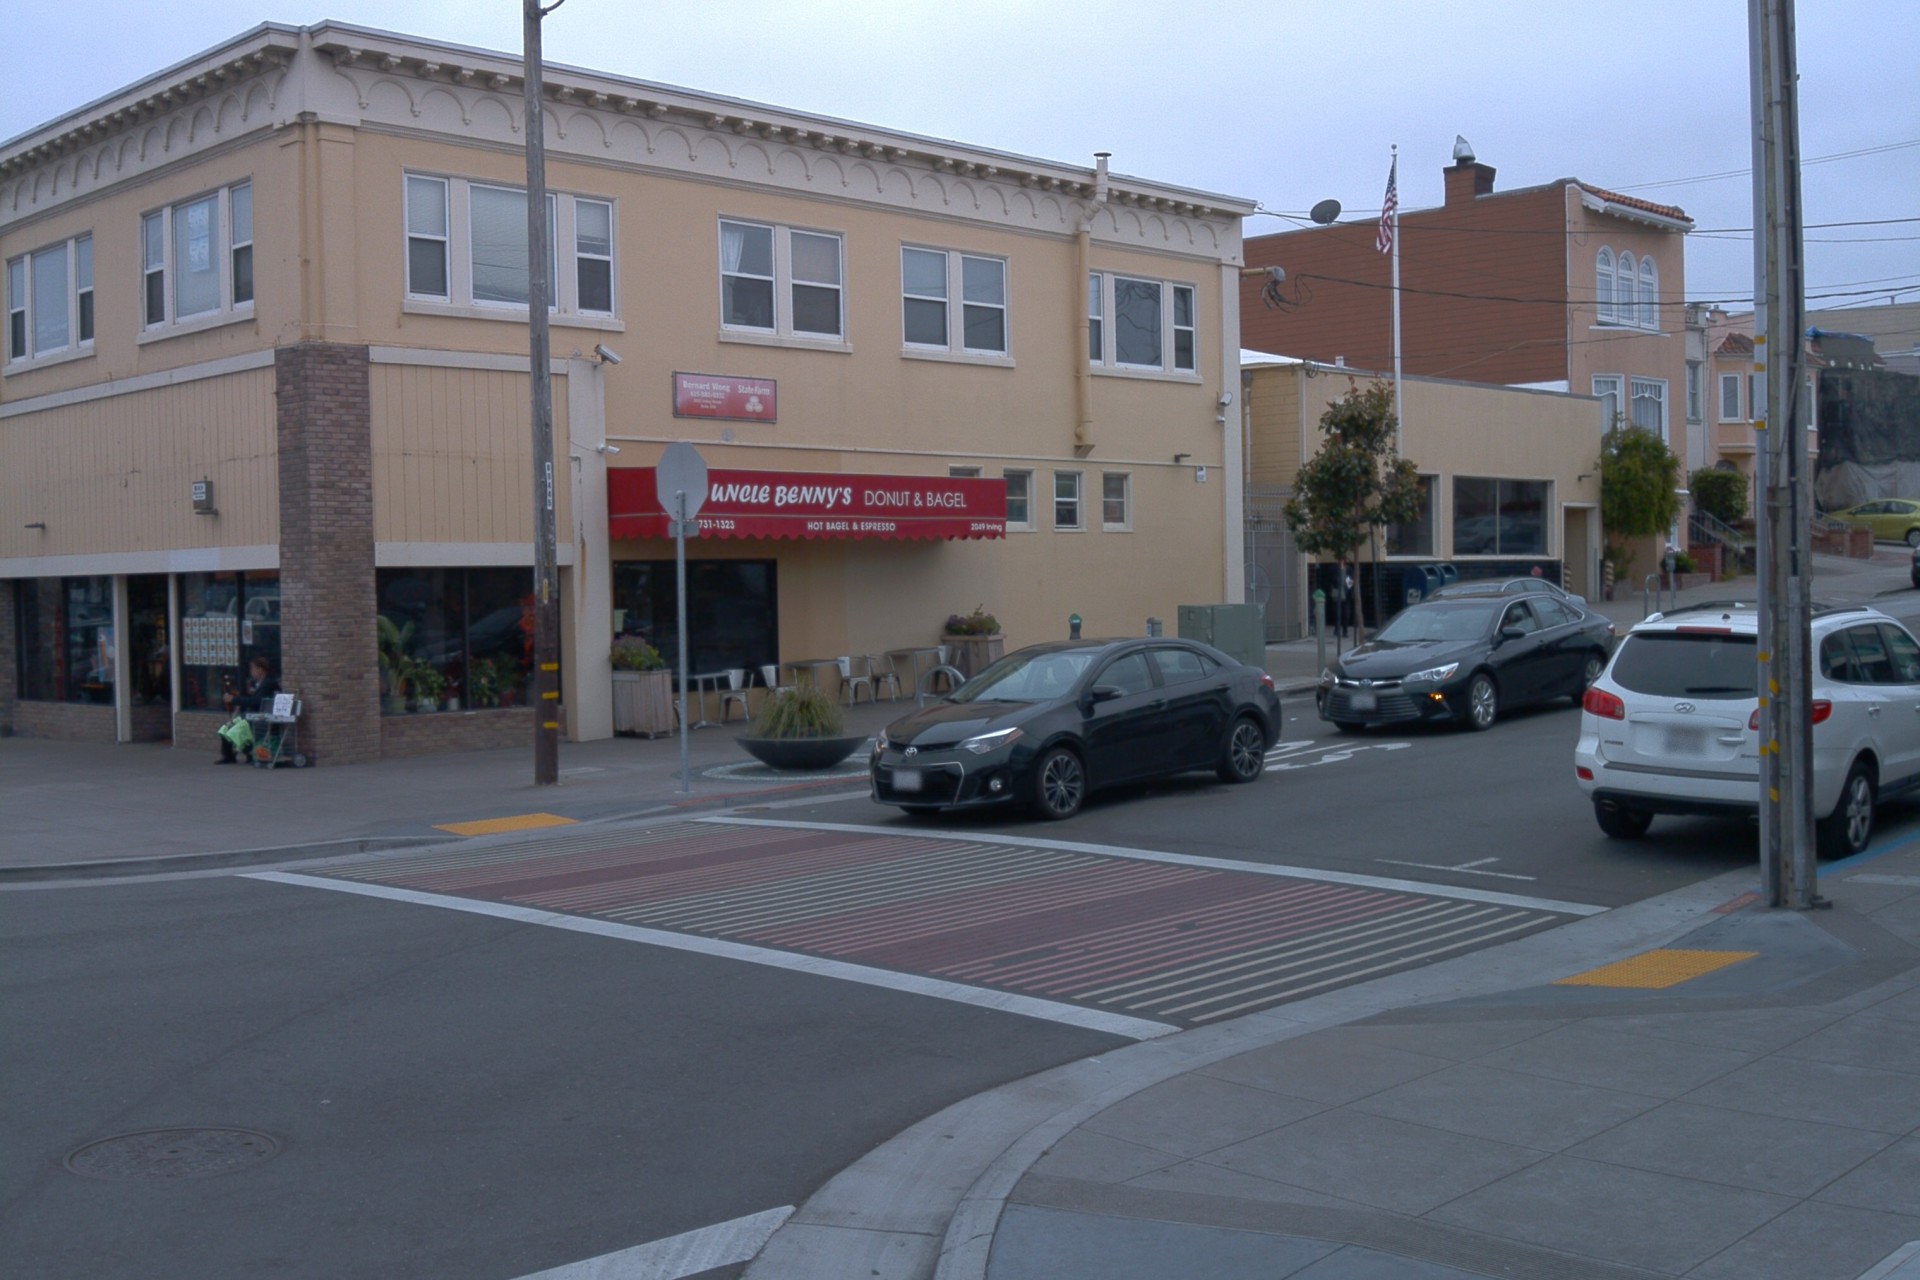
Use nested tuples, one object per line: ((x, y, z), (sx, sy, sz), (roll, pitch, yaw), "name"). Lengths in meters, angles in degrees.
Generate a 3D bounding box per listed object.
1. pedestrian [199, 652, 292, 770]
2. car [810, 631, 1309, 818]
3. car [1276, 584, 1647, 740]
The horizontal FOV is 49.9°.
((-8.585, 0.835, 24.818), (0.878, 1.374, 0.735), (1, 1, 44), "pedestrian")
((1.016, 0.651, 18.534), (2.067, 1.440, 4.540), (0, 1, 42), "car")
((5.977, 0.204, 24.246), (2.082, 1.644, 4.864), (1, 1, 44), "car")
